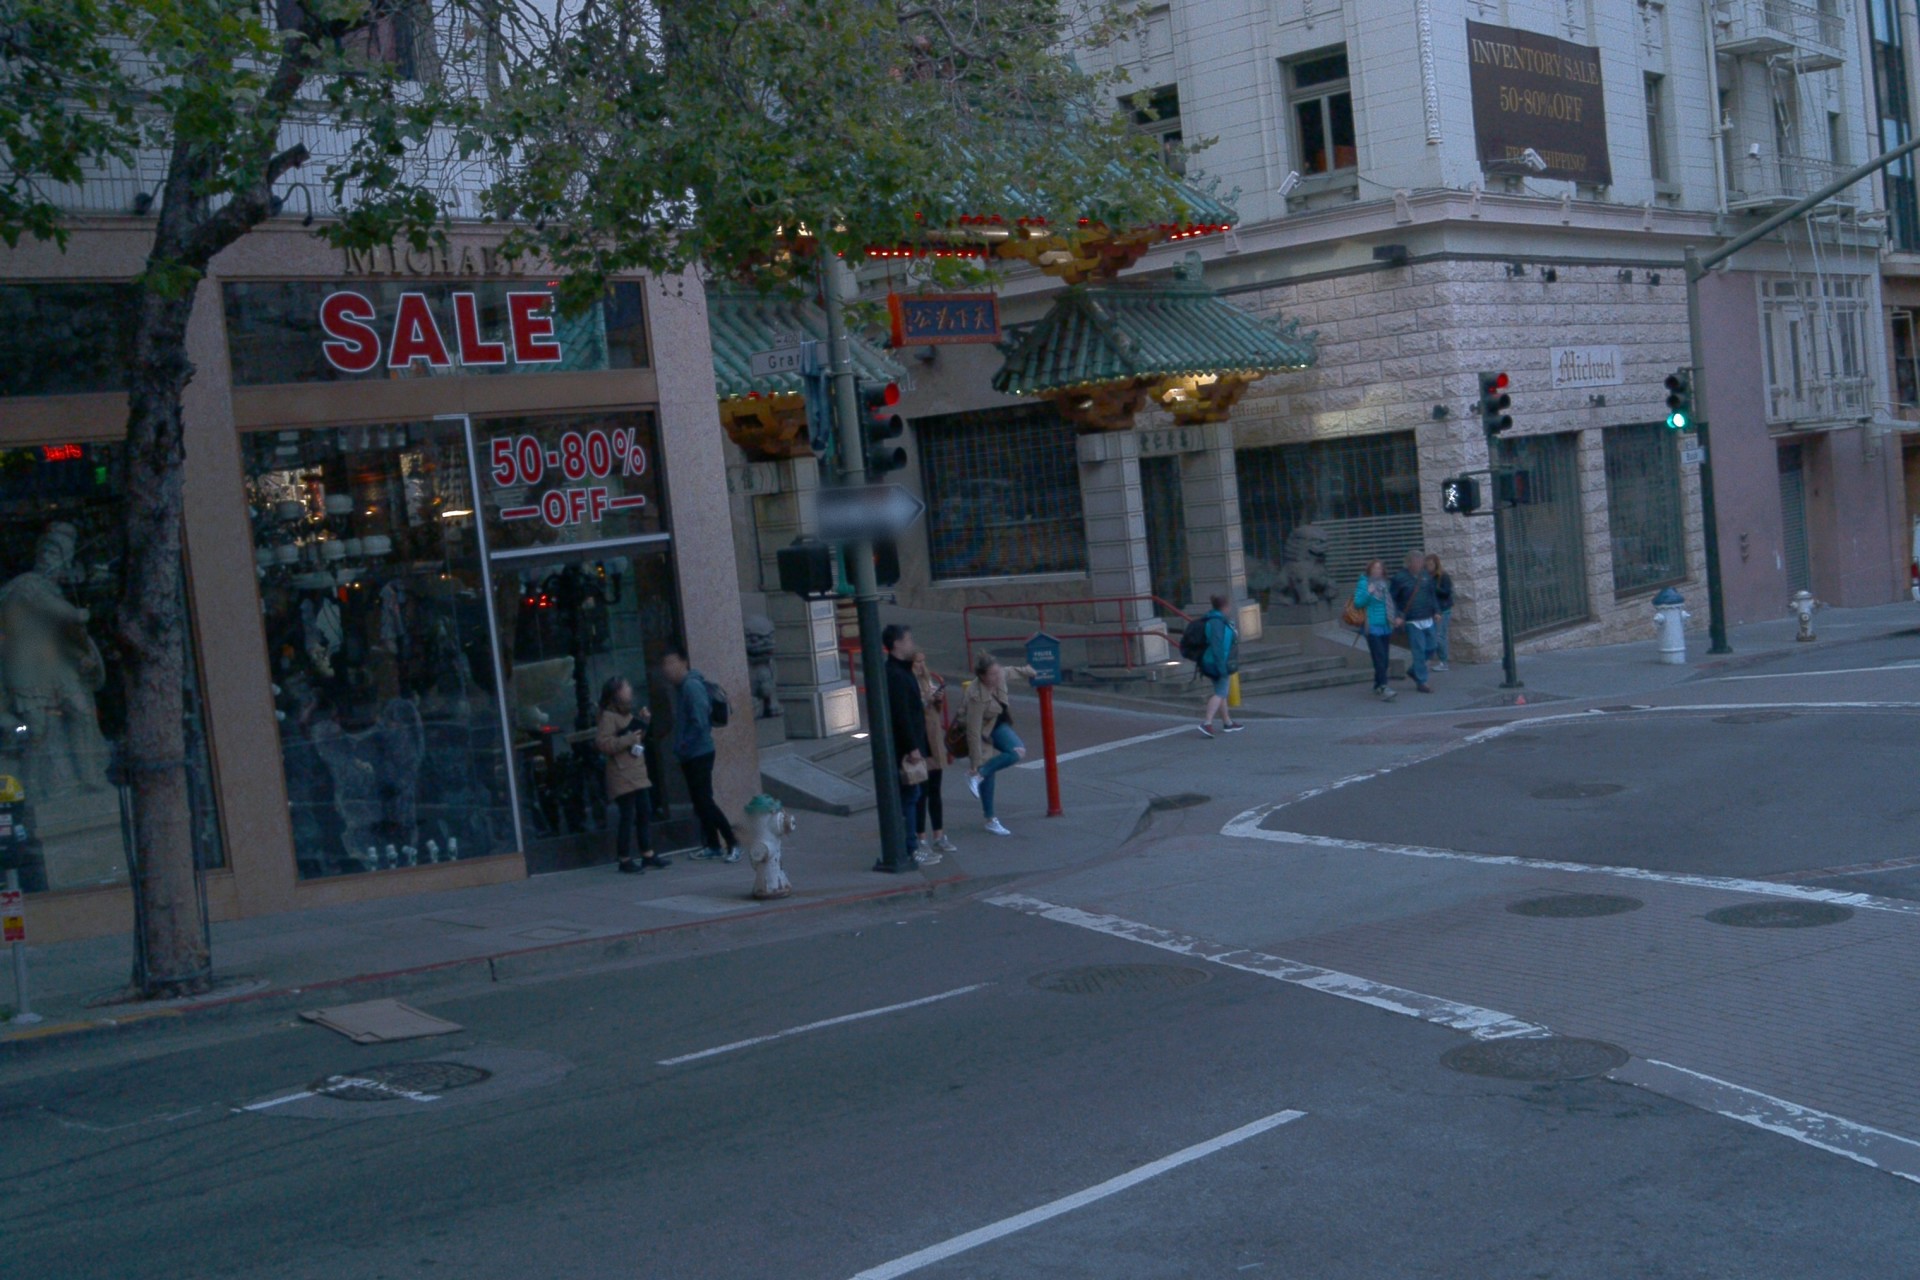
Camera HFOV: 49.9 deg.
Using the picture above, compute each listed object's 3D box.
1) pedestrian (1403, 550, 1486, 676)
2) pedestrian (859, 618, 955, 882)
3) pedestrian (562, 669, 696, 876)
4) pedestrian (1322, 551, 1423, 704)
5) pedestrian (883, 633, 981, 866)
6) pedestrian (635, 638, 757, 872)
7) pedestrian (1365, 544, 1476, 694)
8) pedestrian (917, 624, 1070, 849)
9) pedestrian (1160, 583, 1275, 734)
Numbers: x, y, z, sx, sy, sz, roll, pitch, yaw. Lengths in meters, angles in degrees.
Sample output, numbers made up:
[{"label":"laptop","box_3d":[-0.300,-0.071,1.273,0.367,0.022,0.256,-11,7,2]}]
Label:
[{"label":"pedestrian","box_3d":[6.492,-0.363,27.658,0.818,1.660,0.754,1,1,42]},{"label":"pedestrian","box_3d":[-0.422,0.856,16.561,0.546,2.070,0.610,0,1,27]},{"label":"pedestrian","box_3d":[-2.661,1.036,16.566,0.745,1.580,0.787,-1,1,-42]},{"label":"pedestrian","box_3d":[5.082,-0.155,25.473,0.926,1.850,0.935,0,1,-11]},{"label":"pedestrian","box_3d":[-0.231,0.889,17.119,0.531,1.880,0.637,0,1,37]},{"label":"pedestrian","box_3d":[-2.206,0.932,17.233,0.724,1.880,0.716,-1,1,-41]},{"label":"pedestrian","box_3d":[5.727,-0.267,25.696,0.964,1.820,1.001,0,1,-22]},{"label":"pedestrian","box_3d":[0.299,0.804,17.971,0.817,1.880,1.093,1,1,40]},{"label":"pedestrian","box_3d":[3.002,0.203,24.107,0.989,1.710,0.972,0,1,-21]}]
